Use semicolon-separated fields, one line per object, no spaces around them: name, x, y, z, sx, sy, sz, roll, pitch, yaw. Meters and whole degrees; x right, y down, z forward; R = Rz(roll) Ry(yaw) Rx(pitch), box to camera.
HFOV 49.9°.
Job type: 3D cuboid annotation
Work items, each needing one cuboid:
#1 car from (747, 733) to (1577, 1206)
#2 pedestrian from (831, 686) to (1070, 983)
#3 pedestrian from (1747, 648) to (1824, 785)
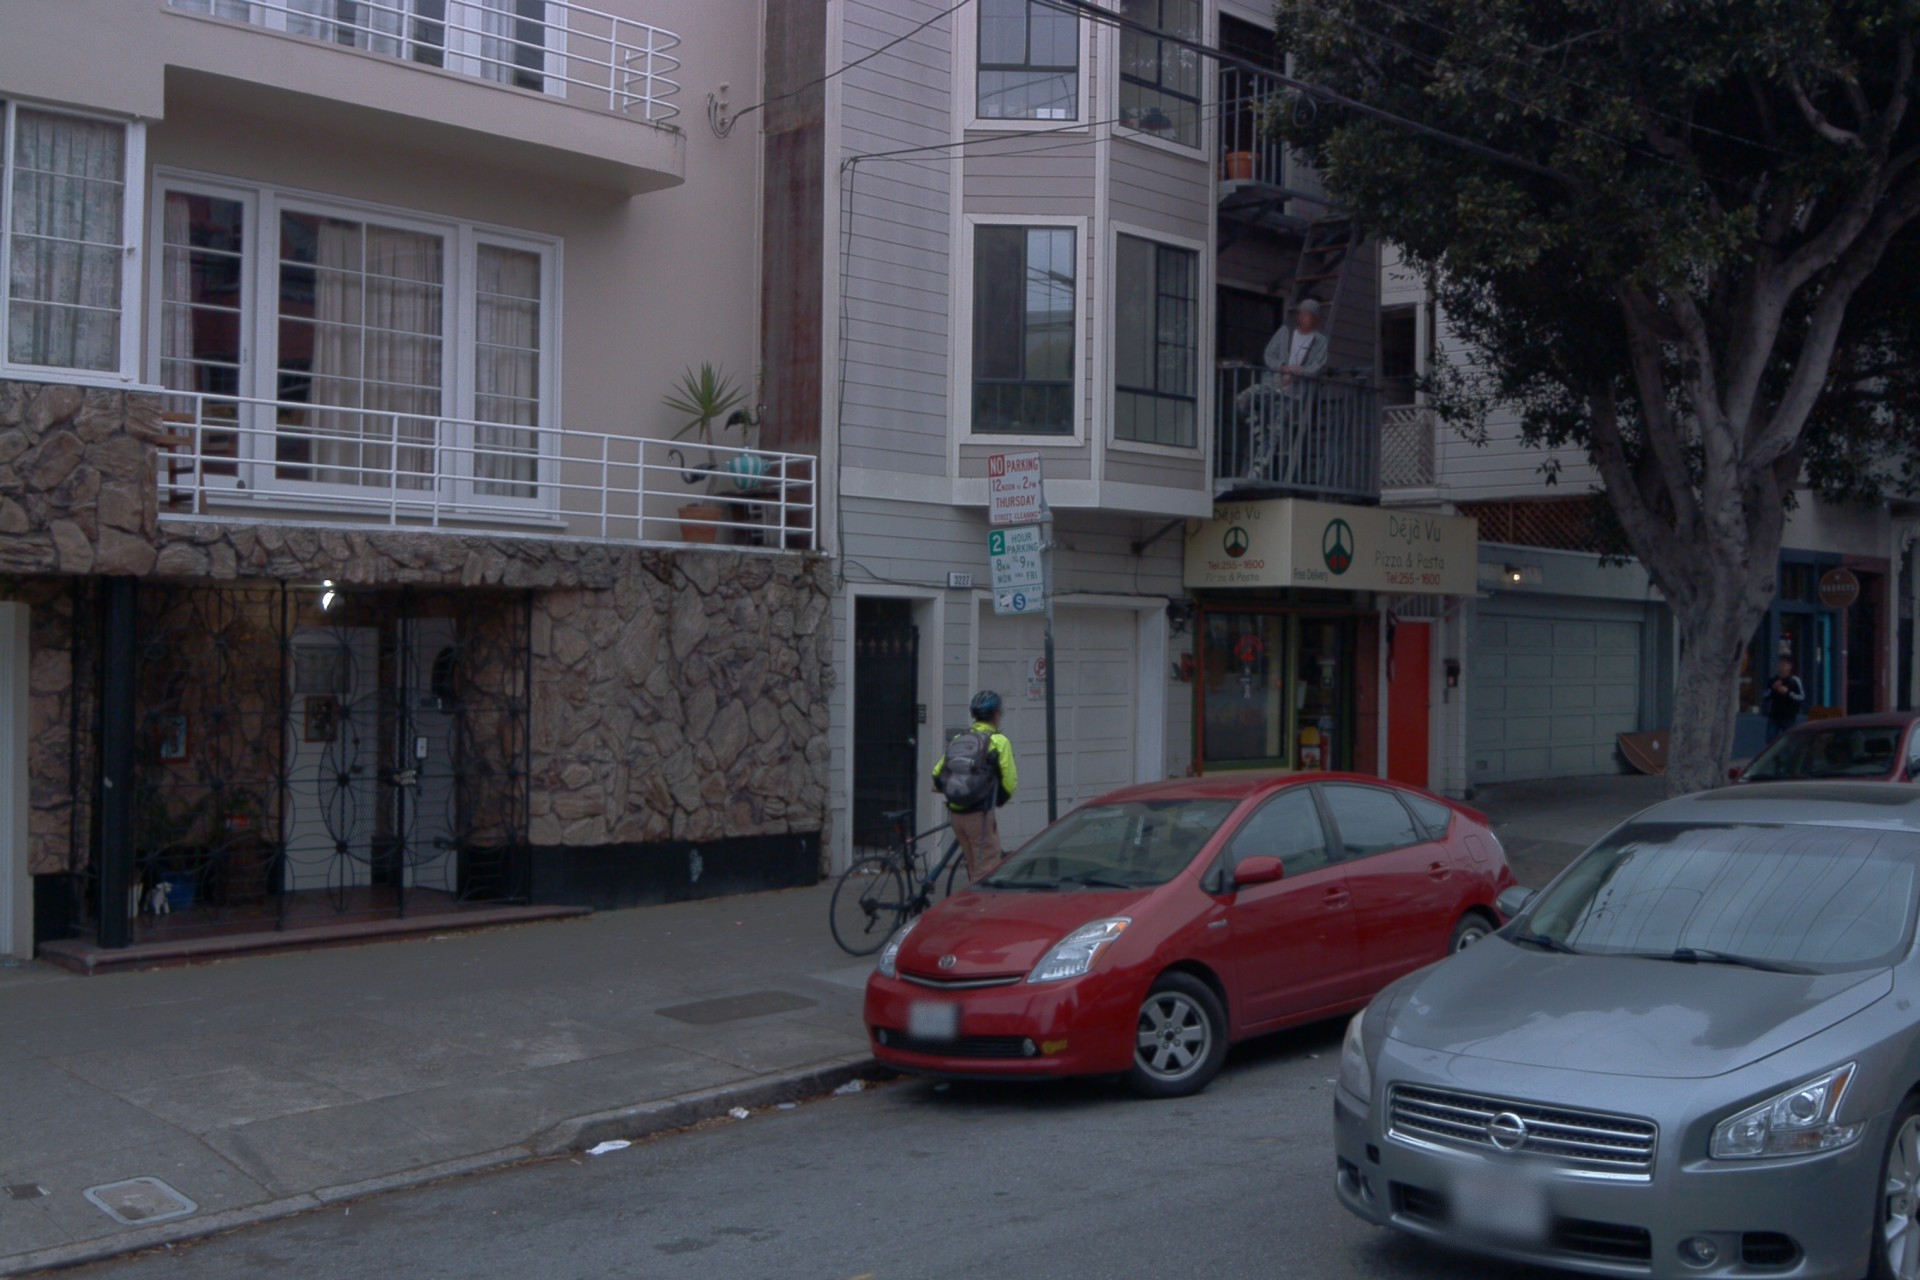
car;1.279;1.530;11.249;4.566;1.750;2.063;-1;1;-45
pedestrian;-0.061;1.238;13.741;1.119;1.806;1.132;1;1;44
pedestrian;10.870;0.987;27.184;0.658;1.740;0.871;1;1;43
